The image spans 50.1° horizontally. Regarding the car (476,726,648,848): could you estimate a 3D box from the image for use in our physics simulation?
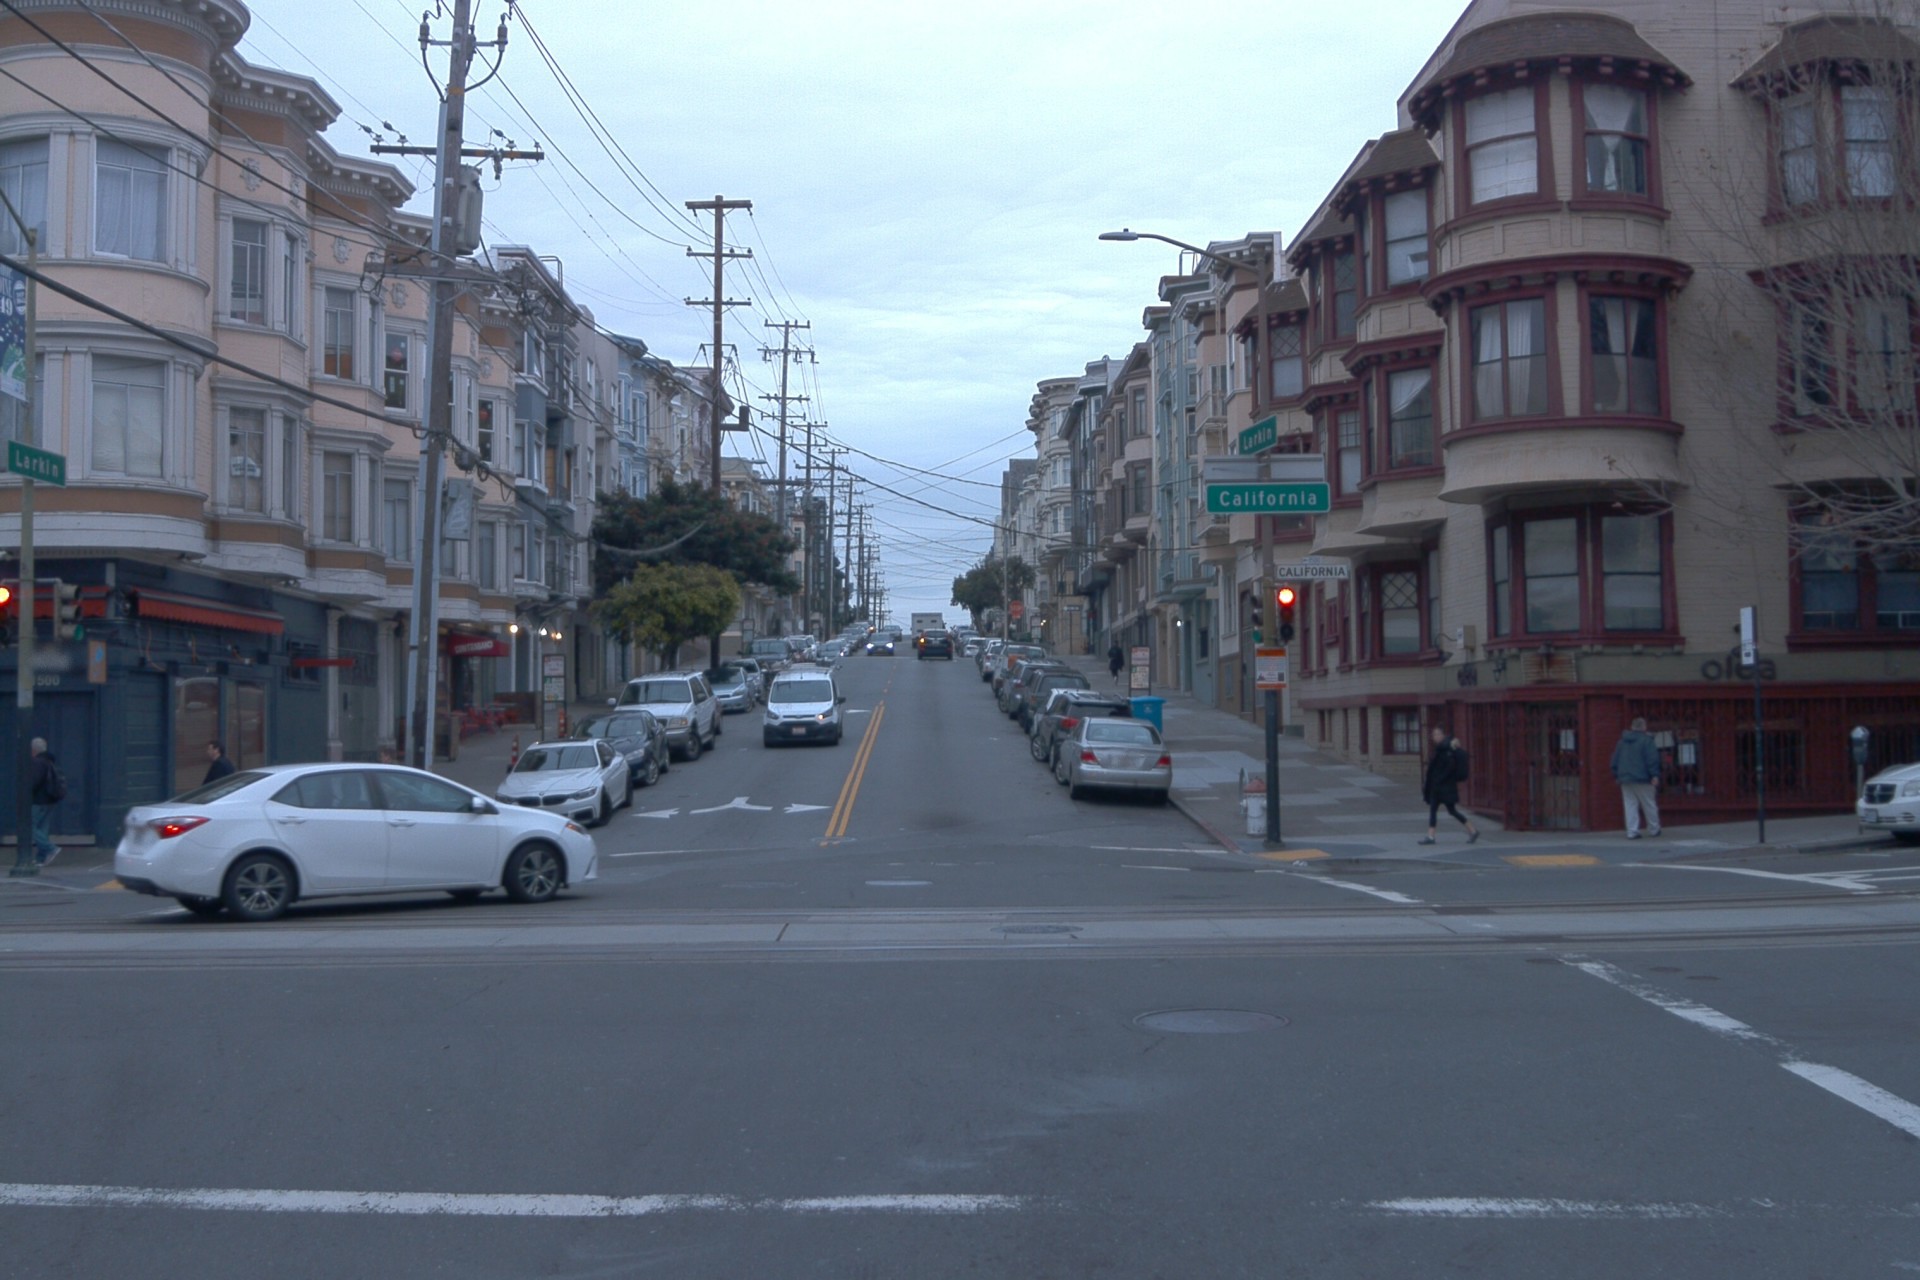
[{"bbox_3d":[-6.813,2.479,35.707,2.150,1.707,4.680,0,1,-1],"label":"car"}]

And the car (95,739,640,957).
[{"bbox_3d":[-5.751,1.928,20.242,4.678,1.600,2.154,-1,1,-38],"label":"car"}]

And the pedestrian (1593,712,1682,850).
[{"bbox_3d":[9.510,1.954,28.867,0.919,1.830,0.902,1,1,41],"label":"pedestrian"}]

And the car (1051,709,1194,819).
[{"bbox_3d":[2.936,2.240,38.182,2.108,1.700,4.470,0,1,-2],"label":"car"}]

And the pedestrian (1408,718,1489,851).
[{"bbox_3d":[6.975,2.052,29.386,0.943,1.820,0.722,0,1,-3],"label":"pedestrian"}]
